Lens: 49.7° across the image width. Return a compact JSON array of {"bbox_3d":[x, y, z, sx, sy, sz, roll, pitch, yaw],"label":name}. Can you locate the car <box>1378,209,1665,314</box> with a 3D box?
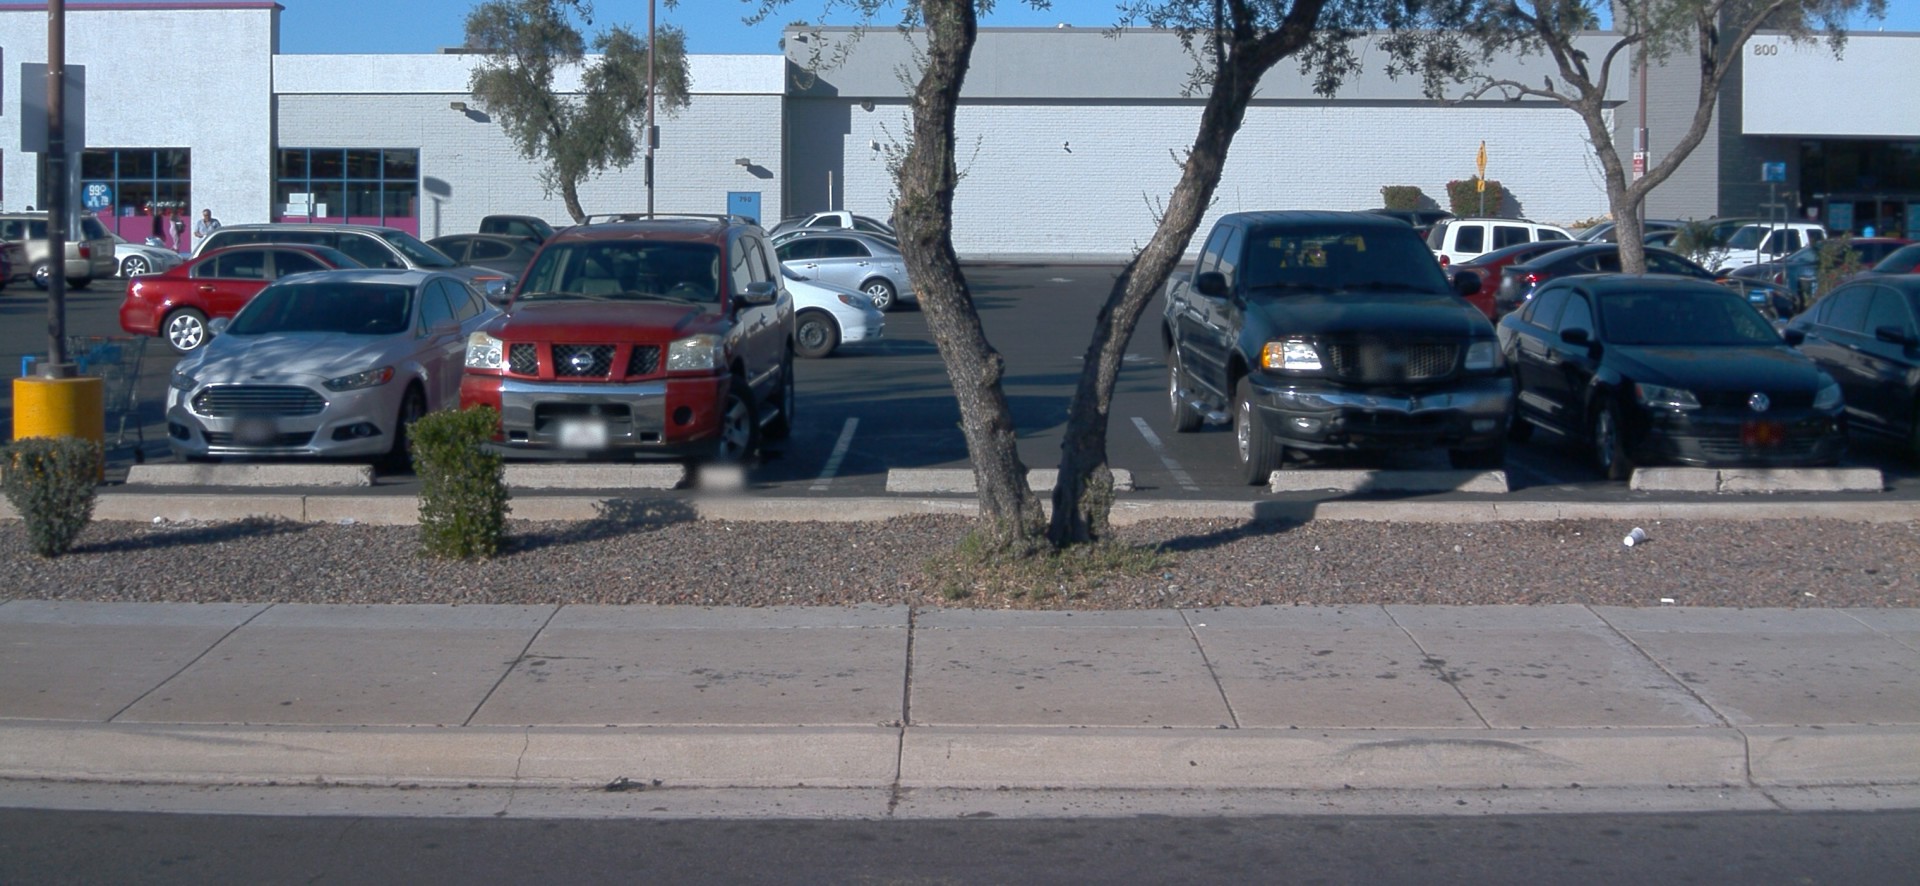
[{"bbox_3d":[9.930,-3.252,36.939,4.629,1.808,2.039,0,3,3],"label":"car"}]

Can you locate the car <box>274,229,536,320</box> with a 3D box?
[{"bbox_3d":[-9.595,-2.948,36.067,4.017,1.518,1.868,0,3,2],"label":"car"}]

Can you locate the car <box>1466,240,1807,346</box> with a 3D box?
[{"bbox_3d":[10.115,-2.286,31.235,4.492,1.537,2.027,0,4,-2],"label":"car"}]

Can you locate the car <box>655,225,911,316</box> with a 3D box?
[{"bbox_3d":[-3.221,-3.215,38.472,4.572,1.627,1.976,0,3,-1],"label":"car"}]

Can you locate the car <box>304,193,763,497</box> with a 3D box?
[{"bbox_3d":[-3.106,-0.915,16.505,2.383,2.023,5.301,0,5,2],"label":"car"}]

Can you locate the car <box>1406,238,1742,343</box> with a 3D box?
[{"bbox_3d":[9.909,-2.509,33.732,4.851,1.647,2.097,0,3,-2],"label":"car"}]

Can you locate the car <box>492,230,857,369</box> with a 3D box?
[{"bbox_3d":[-3.730,-1.951,27.732,4.565,1.788,2.041,0,3,0],"label":"car"}]

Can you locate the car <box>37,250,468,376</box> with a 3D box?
[{"bbox_3d":[-9.386,-1.776,27.863,5.039,1.607,2.160,0,4,-2],"label":"car"}]

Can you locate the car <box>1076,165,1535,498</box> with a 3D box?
[{"bbox_3d":[2.469,-1.023,16.633,2.413,2.192,5.697,0,5,-4],"label":"car"}]

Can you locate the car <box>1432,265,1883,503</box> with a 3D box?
[{"bbox_3d":[5.257,-0.598,16.372,1.974,1.544,4.632,0,5,-1],"label":"car"}]

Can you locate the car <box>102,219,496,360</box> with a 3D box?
[{"bbox_3d":[-9.640,-2.295,30.521,5.050,1.987,2.183,0,3,3],"label":"car"}]
